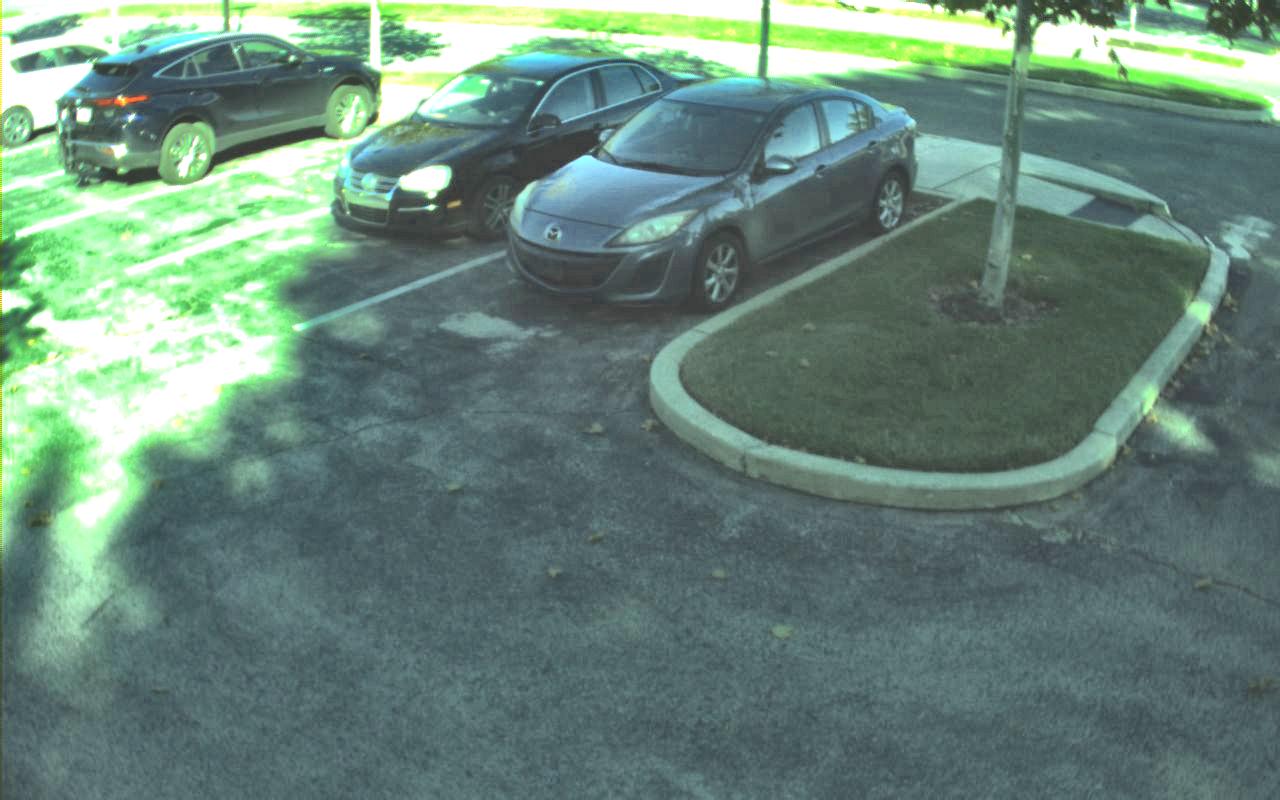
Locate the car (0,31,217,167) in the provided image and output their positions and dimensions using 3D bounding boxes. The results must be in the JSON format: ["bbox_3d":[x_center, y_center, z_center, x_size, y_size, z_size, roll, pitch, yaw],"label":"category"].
[{"bbox_3d":[-9.235,-4.911,18.352,1.946,1.665,4.493,11,21,37],"label":"car"}]

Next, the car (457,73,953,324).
[{"bbox_3d":[0.790,-1.909,10.476,1.894,1.500,4.446,12,21,39],"label":"car"}]

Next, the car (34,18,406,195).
[{"bbox_3d":[-5.280,-3.787,14.883,1.980,1.714,4.668,10,20,33],"label":"car"}]

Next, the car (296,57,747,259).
[{"bbox_3d":[-1.031,-2.570,12.314,1.904,1.508,4.432,13,21,39],"label":"car"}]
